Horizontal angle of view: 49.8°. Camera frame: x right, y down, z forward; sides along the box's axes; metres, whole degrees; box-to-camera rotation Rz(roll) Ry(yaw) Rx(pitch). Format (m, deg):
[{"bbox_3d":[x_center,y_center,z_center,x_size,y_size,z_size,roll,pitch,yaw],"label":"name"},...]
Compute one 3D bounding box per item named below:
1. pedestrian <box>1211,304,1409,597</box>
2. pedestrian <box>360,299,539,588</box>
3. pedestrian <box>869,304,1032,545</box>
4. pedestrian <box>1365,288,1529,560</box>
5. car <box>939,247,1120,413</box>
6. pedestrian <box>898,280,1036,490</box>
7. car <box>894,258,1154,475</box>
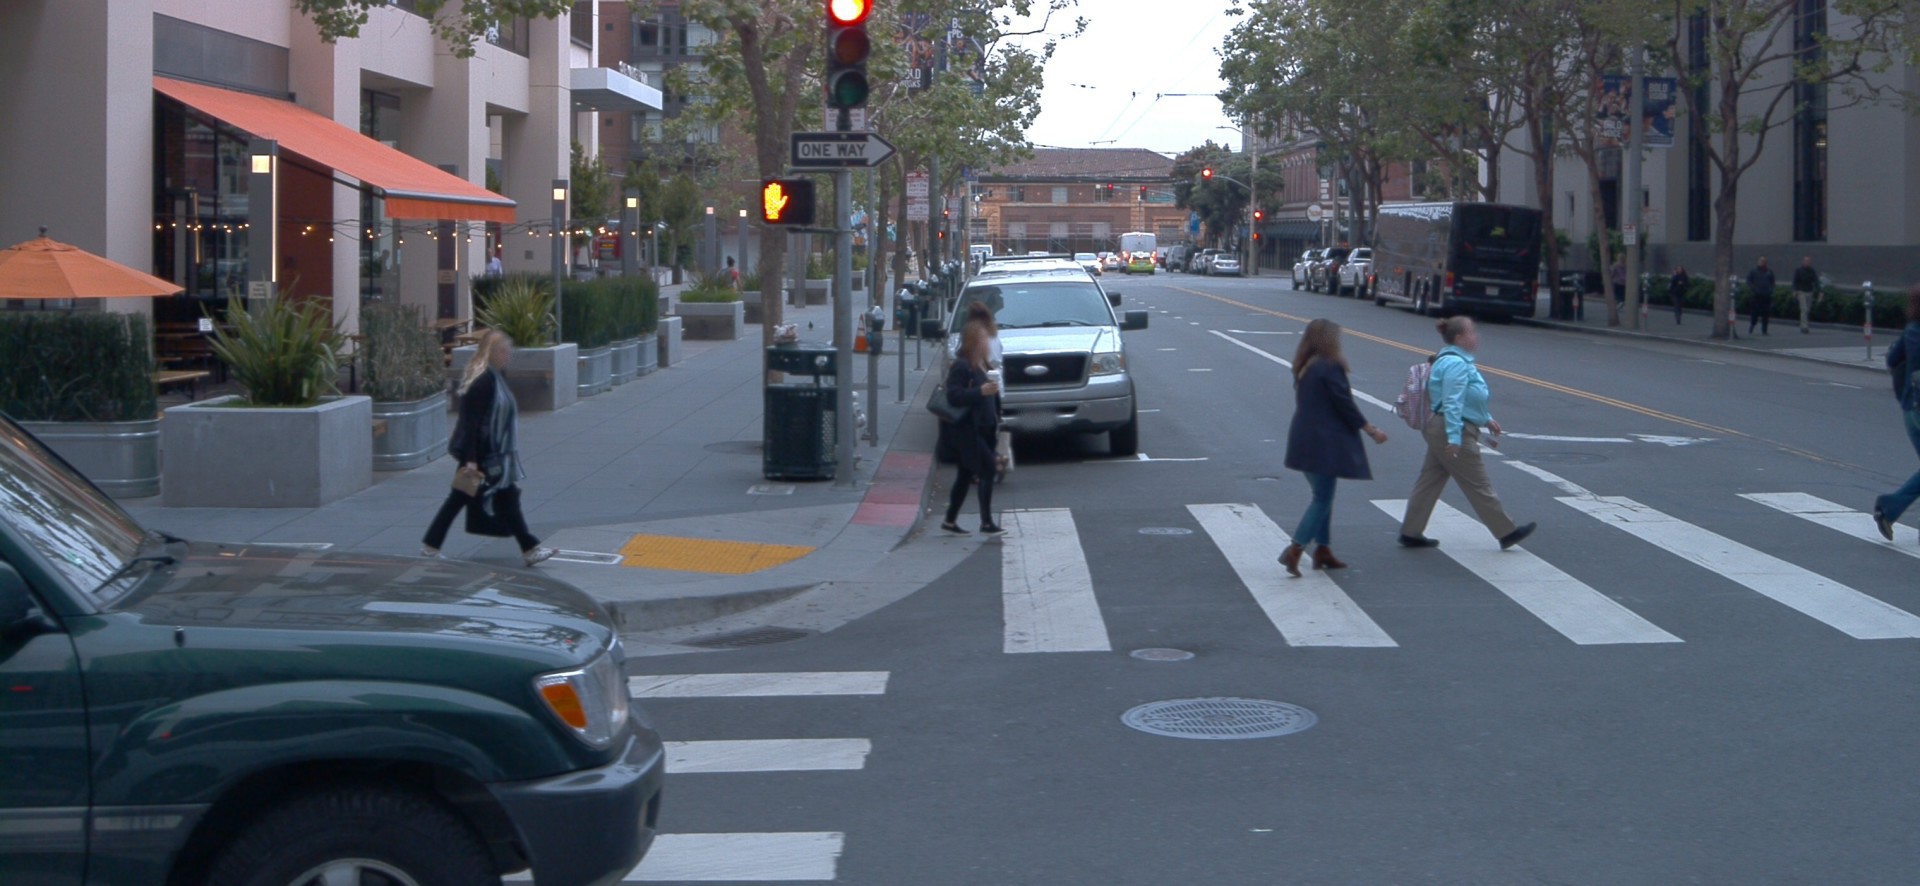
[{"bbox_3d":[2.244,0.007,13.301,0.890,1.737,0.888,-2,3,-28],"label":"pedestrian"},{"bbox_3d":[-3.244,-0.024,13.200,0.916,1.737,0.827,-1,2,0],"label":"pedestrian"},{"bbox_3d":[-0.065,-0.165,15.295,0.992,1.677,0.692,1,2,25],"label":"pedestrian"},{"bbox_3d":[3.313,-0.157,14.133,1.011,1.763,0.834,0,2,8],"label":"pedestrian"},{"bbox_3d":[0.870,-1.713,29.363,2.304,2.009,5.371,-1,6,-1],"label":"car"},{"bbox_3d":[0.060,-0.556,18.767,0.809,1.796,0.940,-3,3,-44],"label":"pedestrian"},{"bbox_3d":[0.667,-1.007,22.985,2.495,1.929,6.060,0,6,1],"label":"car"}]
